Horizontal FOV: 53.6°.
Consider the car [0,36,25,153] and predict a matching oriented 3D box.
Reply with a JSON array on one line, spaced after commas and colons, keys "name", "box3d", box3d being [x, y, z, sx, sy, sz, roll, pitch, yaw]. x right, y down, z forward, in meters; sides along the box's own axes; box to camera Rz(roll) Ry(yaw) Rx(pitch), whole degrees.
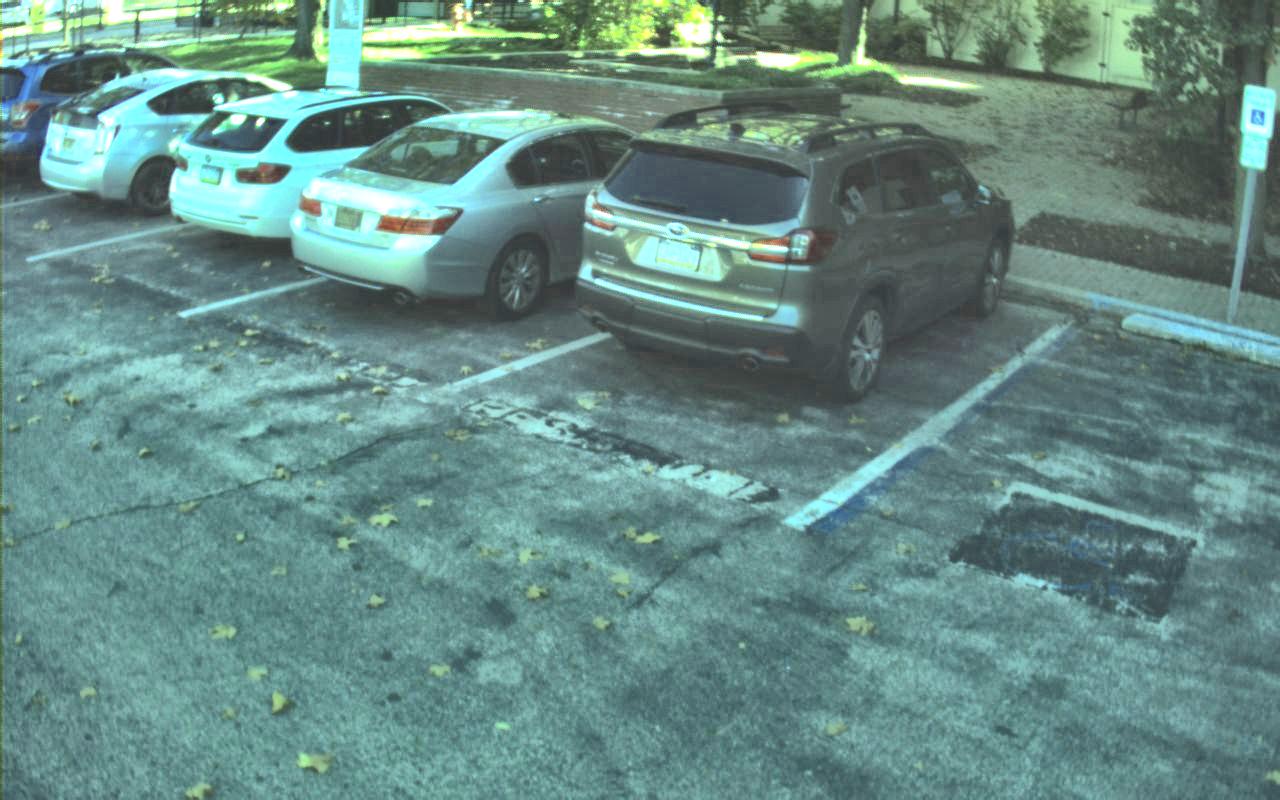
[{"name": "car", "box3d": [-14.117, -5.771, 20.018, 1.959, 1.648, 4.565, 9, 19, 31]}]

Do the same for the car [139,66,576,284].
[{"name": "car", "box3d": [-2.754, -2.444, 12.417, 1.923, 1.603, 4.427, 10, 20, 33]}]

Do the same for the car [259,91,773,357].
[{"name": "car", "box3d": [-0.851, -1.729, 10.654, 1.914, 1.536, 4.483, 11, 20, 36]}]

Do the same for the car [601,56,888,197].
[{"name": "car", "box3d": [1.614, -3.889, 17.076, 2.002, 1.581, 4.542, 10, 20, 33]}]

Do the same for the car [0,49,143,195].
[{"name": "car", "box3d": [-9.702, -4.155, 16.330, 1.929, 1.552, 4.470, 10, 20, 32]}]

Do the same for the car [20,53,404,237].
[{"name": "car", "box3d": [-4.985, -3.066, 13.782, 1.890, 1.560, 4.384, 11, 21, 36]}]

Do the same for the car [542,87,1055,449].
[{"name": "car", "box3d": [1.565, -1.345, 9.461, 2.043, 1.822, 4.821, 9, 20, 32]}]

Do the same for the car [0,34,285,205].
[{"name": "car", "box3d": [-7.019, -3.785, 15.236, 1.956, 1.688, 4.482, 10, 20, 34]}]
